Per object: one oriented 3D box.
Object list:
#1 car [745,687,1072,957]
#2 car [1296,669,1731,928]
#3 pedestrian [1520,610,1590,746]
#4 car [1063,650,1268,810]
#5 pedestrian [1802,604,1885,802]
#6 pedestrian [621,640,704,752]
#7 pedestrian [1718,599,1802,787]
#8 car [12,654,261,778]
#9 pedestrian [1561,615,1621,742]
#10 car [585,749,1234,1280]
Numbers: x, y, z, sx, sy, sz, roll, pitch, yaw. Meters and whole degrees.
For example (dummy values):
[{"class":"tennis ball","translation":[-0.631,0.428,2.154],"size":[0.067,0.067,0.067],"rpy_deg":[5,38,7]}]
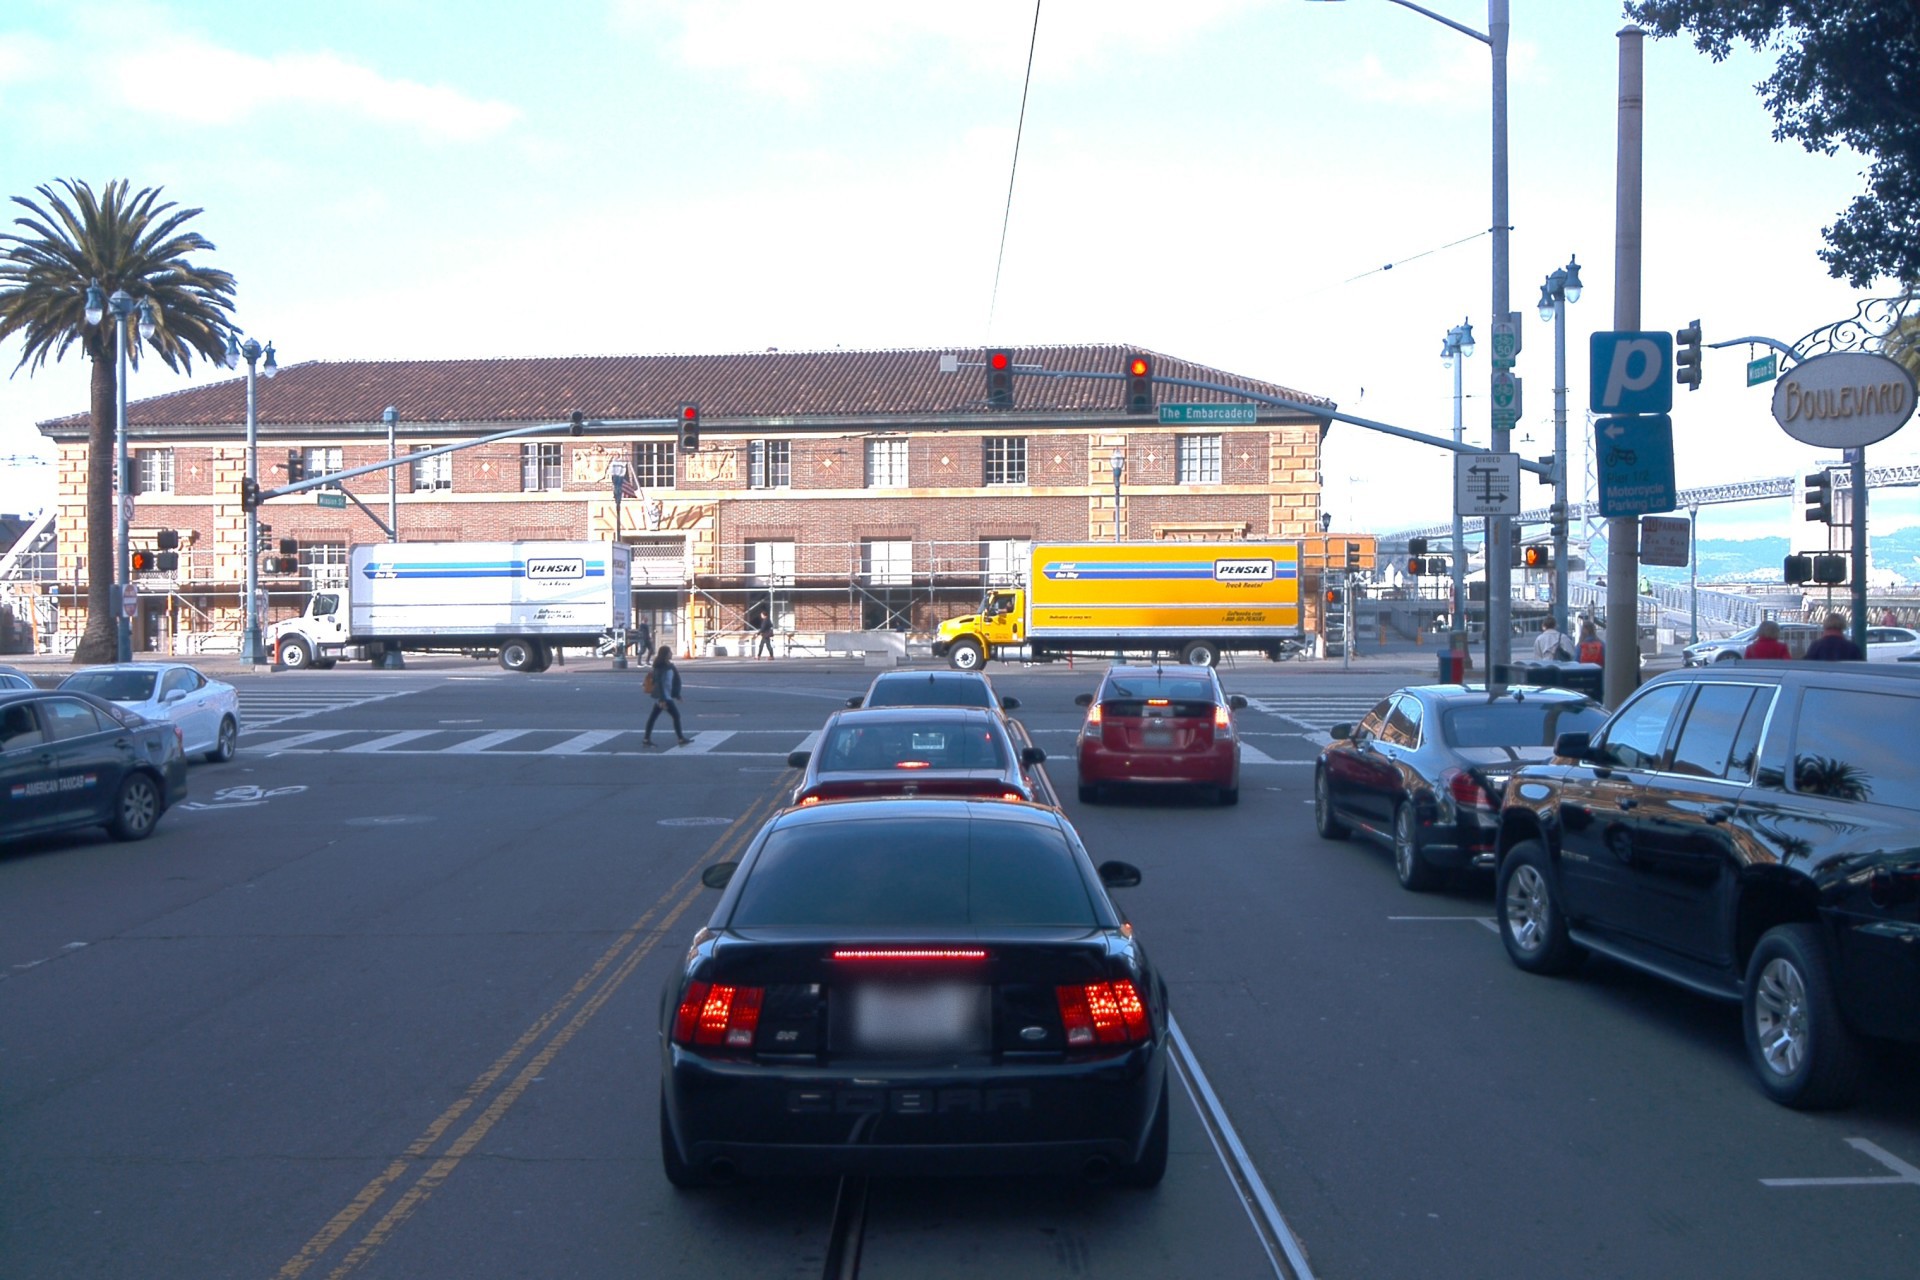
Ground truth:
[{"class":"car","translation":[-0.321,1.183,14.902],"size":[2.032,1.533,4.187],"rpy_deg":[0,1,0]},{"class":"car","translation":[4.225,1.127,16.719],"size":[2.062,1.630,5.189],"rpy_deg":[0,1,-1]},{"class":"pedestrian","translation":[8.720,0.546,30.157],"size":[0.837,1.970,0.922],"rpy_deg":[0,1,5]},{"class":"car","translation":[2.307,0.939,23.473],"size":[2.102,1.570,4.550],"rpy_deg":[0,1,5]},{"class":"pedestrian","translation":[8.676,0.595,20.184],"size":[0.733,1.890,0.806],"rpy_deg":[0,1,24]},{"class":"pedestrian","translation":[-4.377,0.821,30.285],"size":[1.072,1.621,0.774],"rpy_deg":[0,1,3]},{"class":"pedestrian","translation":[7.976,0.511,20.489],"size":[0.733,1.828,0.806],"rpy_deg":[0,1,25]},{"class":"car","translation":[-10.678,0.942,26.929],"size":[1.723,1.430,3.630],"rpy_deg":[0,1,2]},{"class":"pedestrian","translation":[9.407,0.566,30.659],"size":[0.667,1.870,0.754],"rpy_deg":[0,1,1]},{"class":"car","translation":[-0.159,1.310,8.383],"size":[2.005,1.463,4.021],"rpy_deg":[0,1,0]}]
